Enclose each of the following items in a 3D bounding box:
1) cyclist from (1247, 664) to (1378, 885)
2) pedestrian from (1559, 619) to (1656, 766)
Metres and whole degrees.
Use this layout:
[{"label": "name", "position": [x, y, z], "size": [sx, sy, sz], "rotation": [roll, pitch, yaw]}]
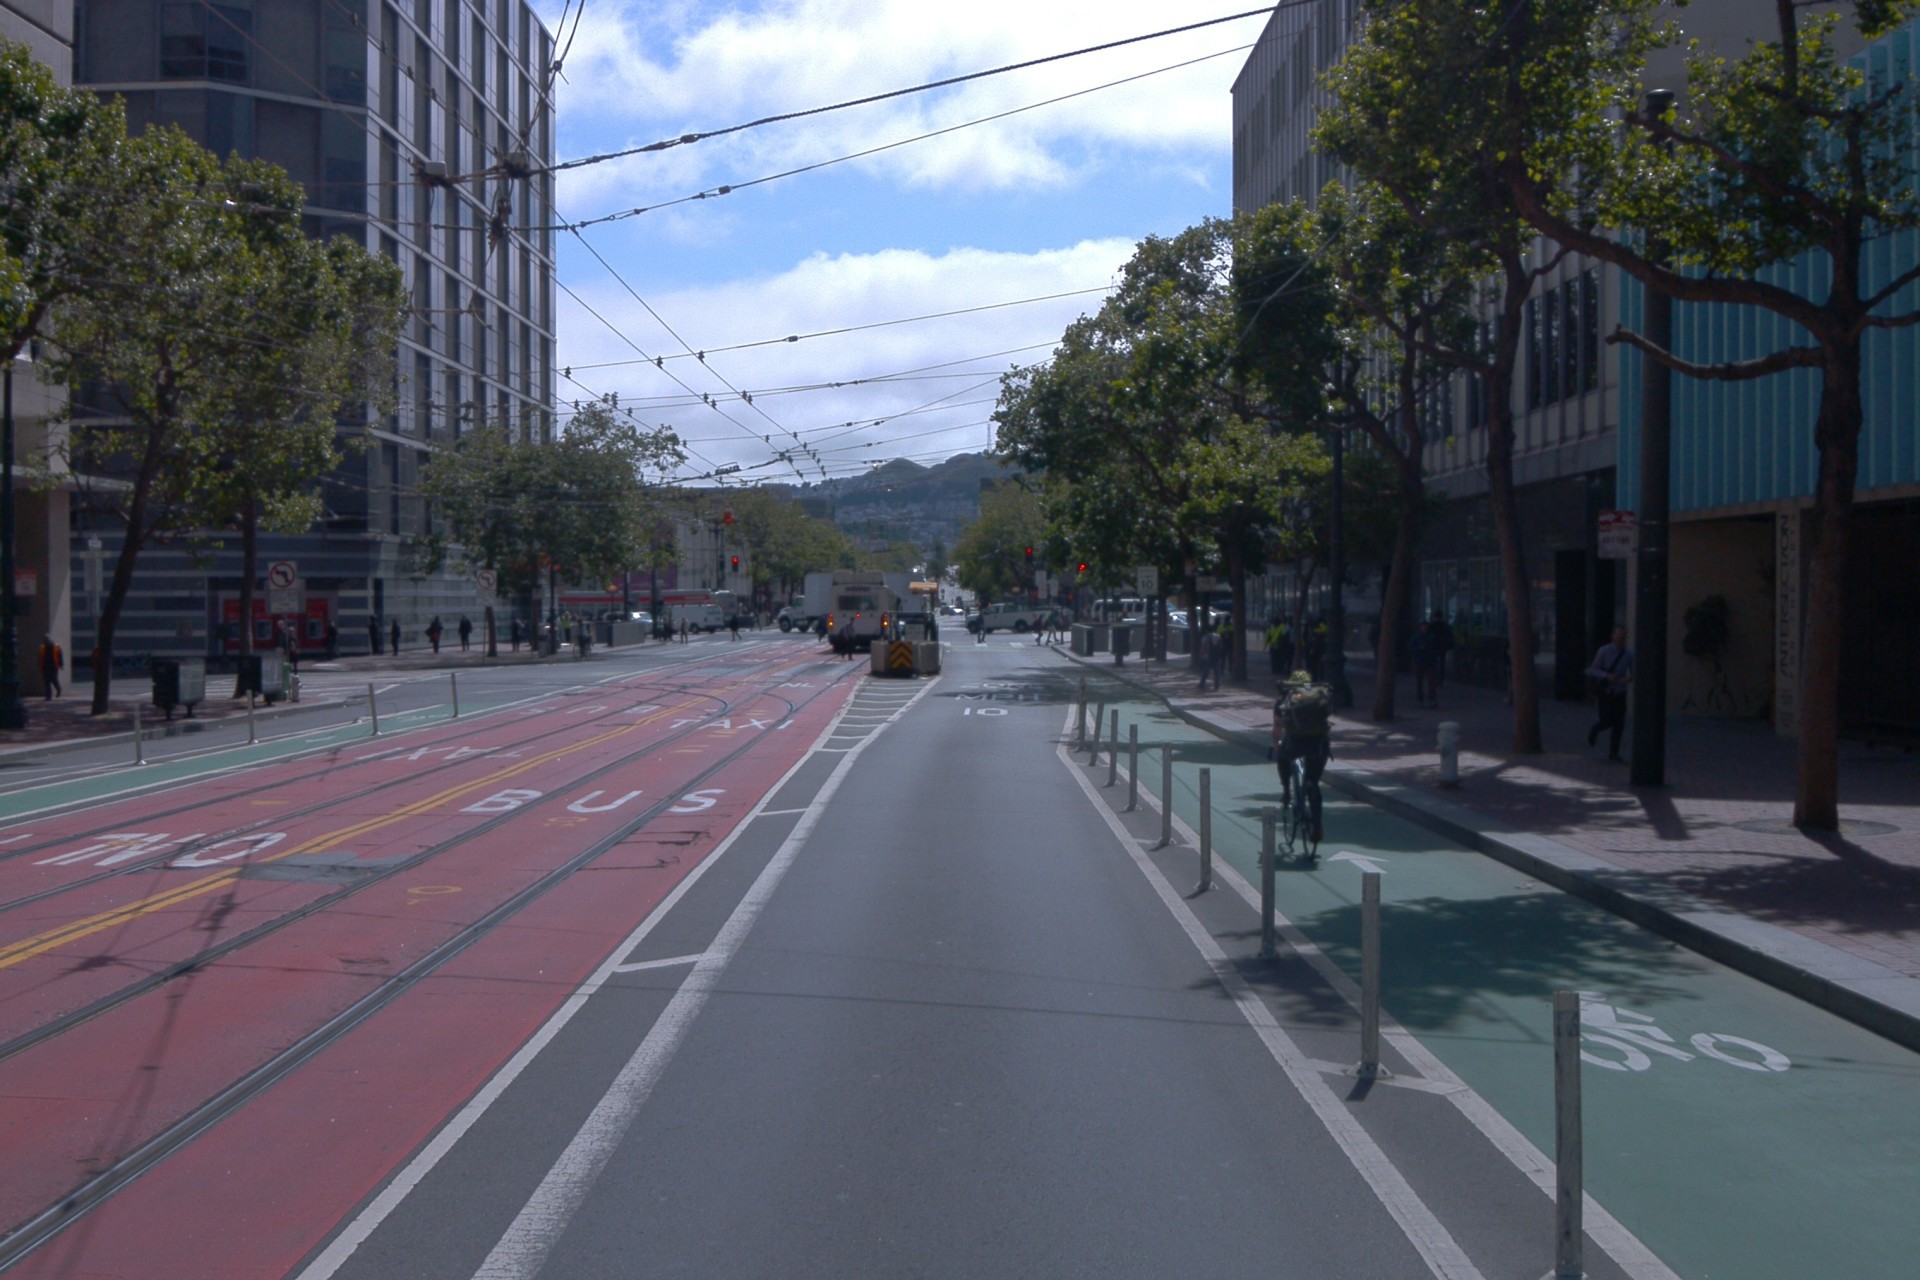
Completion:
[{"label": "cyclist", "position": [3.026, 1.115, 17.808], "size": [0.806, 1.770, 1.802], "rotation": [0, 1, -1]}, {"label": "pedestrian", "position": [8.387, 0.655, 26.656], "size": [0.809, 1.860, 1.172], "rotation": [0, 1, -5]}]
